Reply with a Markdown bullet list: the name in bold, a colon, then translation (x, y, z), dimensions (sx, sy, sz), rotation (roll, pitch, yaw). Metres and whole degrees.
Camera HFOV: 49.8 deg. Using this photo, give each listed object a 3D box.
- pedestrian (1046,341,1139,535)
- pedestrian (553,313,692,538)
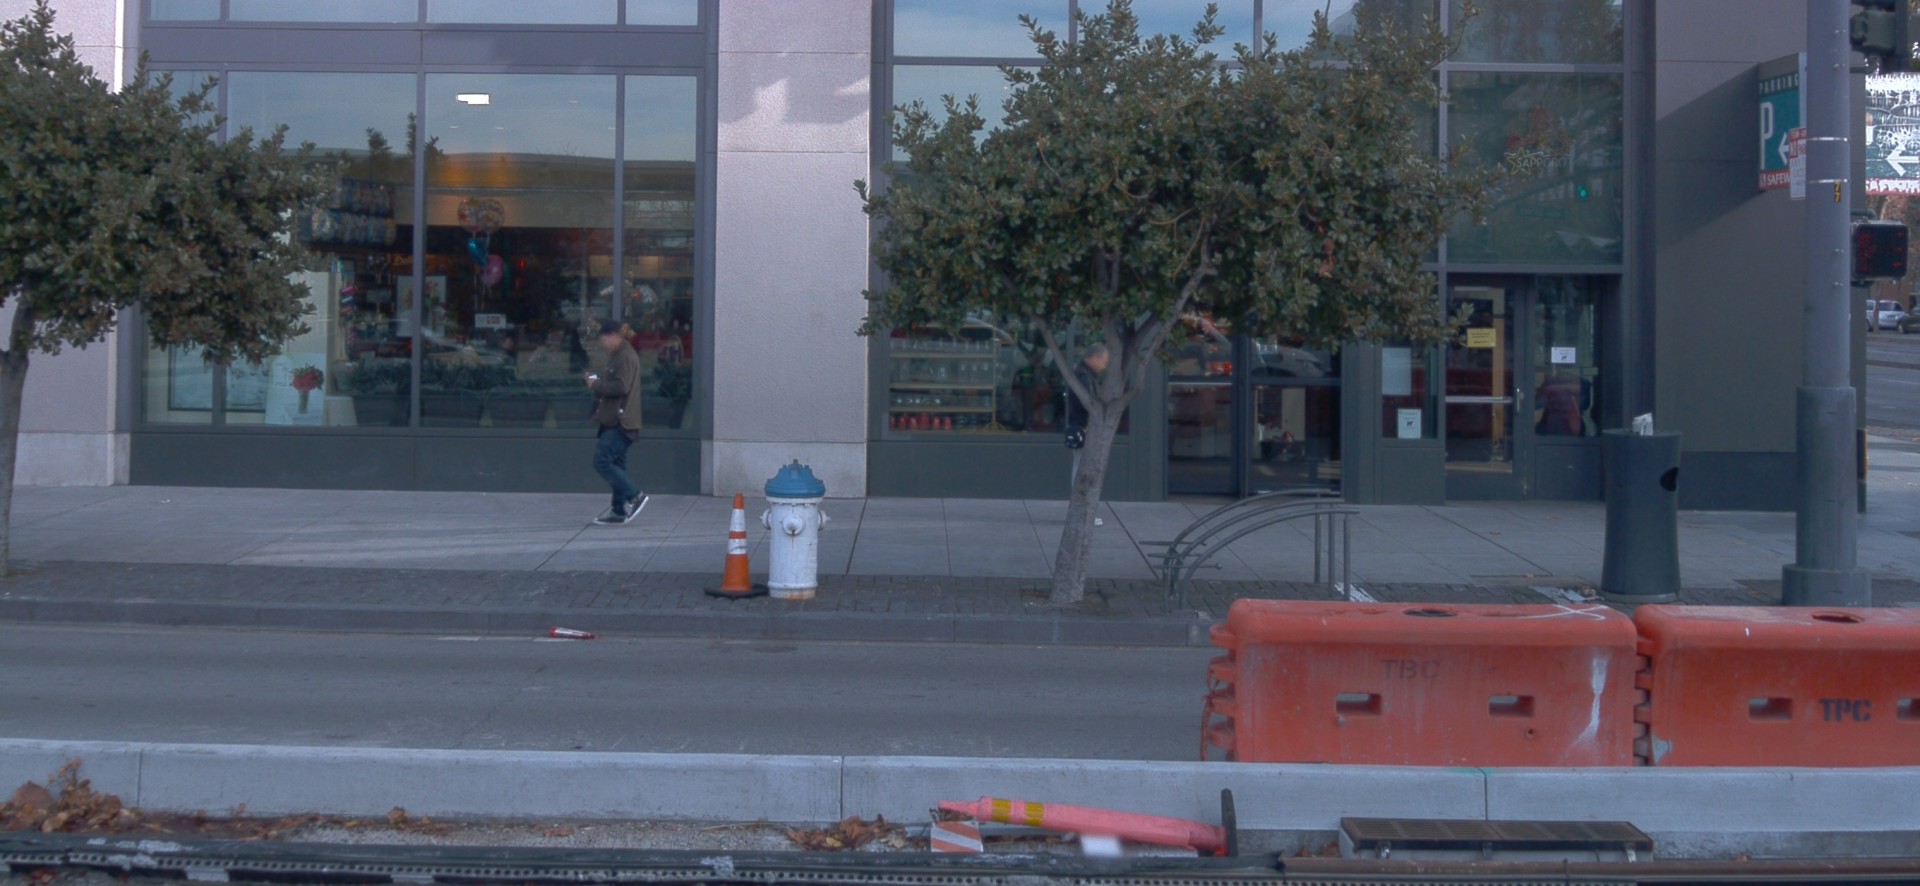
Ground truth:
- **pedestrian**: translation (1.154, -0.061, 18.171), dimensions (0.683, 1.627, 0.774), rotation (1, 1, -4)
- **pedestrian**: translation (-2.854, -0.170, 17.595), dimensions (1.000, 1.815, 0.864), rotation (1, 1, 0)
